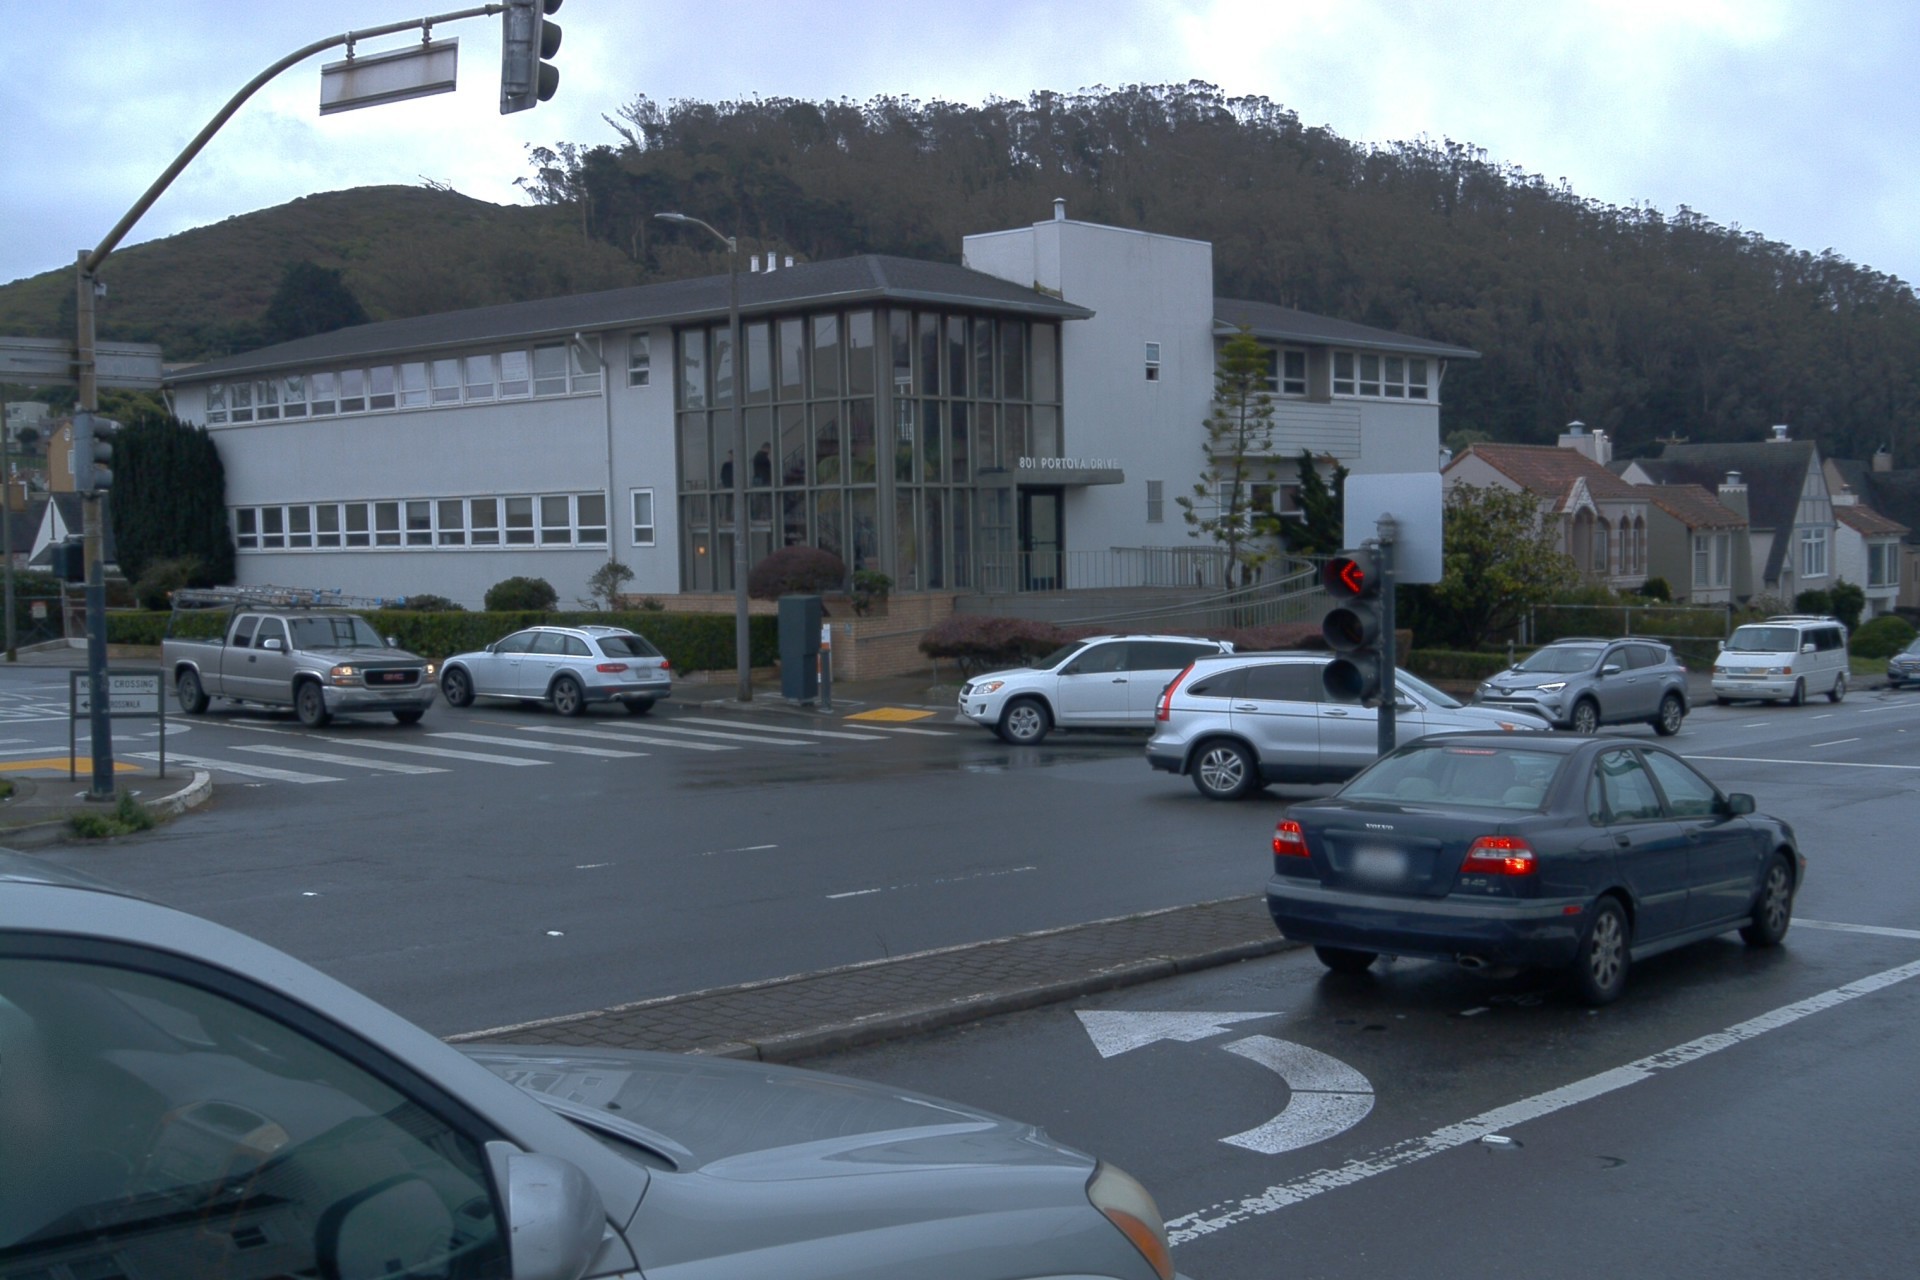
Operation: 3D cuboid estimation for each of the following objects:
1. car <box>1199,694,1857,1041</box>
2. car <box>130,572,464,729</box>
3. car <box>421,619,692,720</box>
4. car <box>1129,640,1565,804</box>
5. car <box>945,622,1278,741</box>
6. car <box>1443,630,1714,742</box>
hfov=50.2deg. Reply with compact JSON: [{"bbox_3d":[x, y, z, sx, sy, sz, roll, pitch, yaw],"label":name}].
[{"bbox_3d":[3.490,1.152,12.075,1.961,1.500,4.296,1,1,43],"label":"car"},{"bbox_3d":[-10.900,0.113,33.447,5.959,2.350,2.439,1,1,41],"label":"car"},{"bbox_3d":[-7.059,0.458,35.647,4.648,1.610,2.070,1,1,38],"label":"car"},{"bbox_3d":[4.412,0.858,23.240,4.559,1.660,2.152,1,1,20],"label":"car"},{"bbox_3d":[2.271,0.610,31.504,4.741,1.740,2.051,0,1,-9],"label":"car"},{"bbox_3d":[10.467,0.714,34.539,4.665,1.740,2.196,0,1,-41],"label":"car"}]
